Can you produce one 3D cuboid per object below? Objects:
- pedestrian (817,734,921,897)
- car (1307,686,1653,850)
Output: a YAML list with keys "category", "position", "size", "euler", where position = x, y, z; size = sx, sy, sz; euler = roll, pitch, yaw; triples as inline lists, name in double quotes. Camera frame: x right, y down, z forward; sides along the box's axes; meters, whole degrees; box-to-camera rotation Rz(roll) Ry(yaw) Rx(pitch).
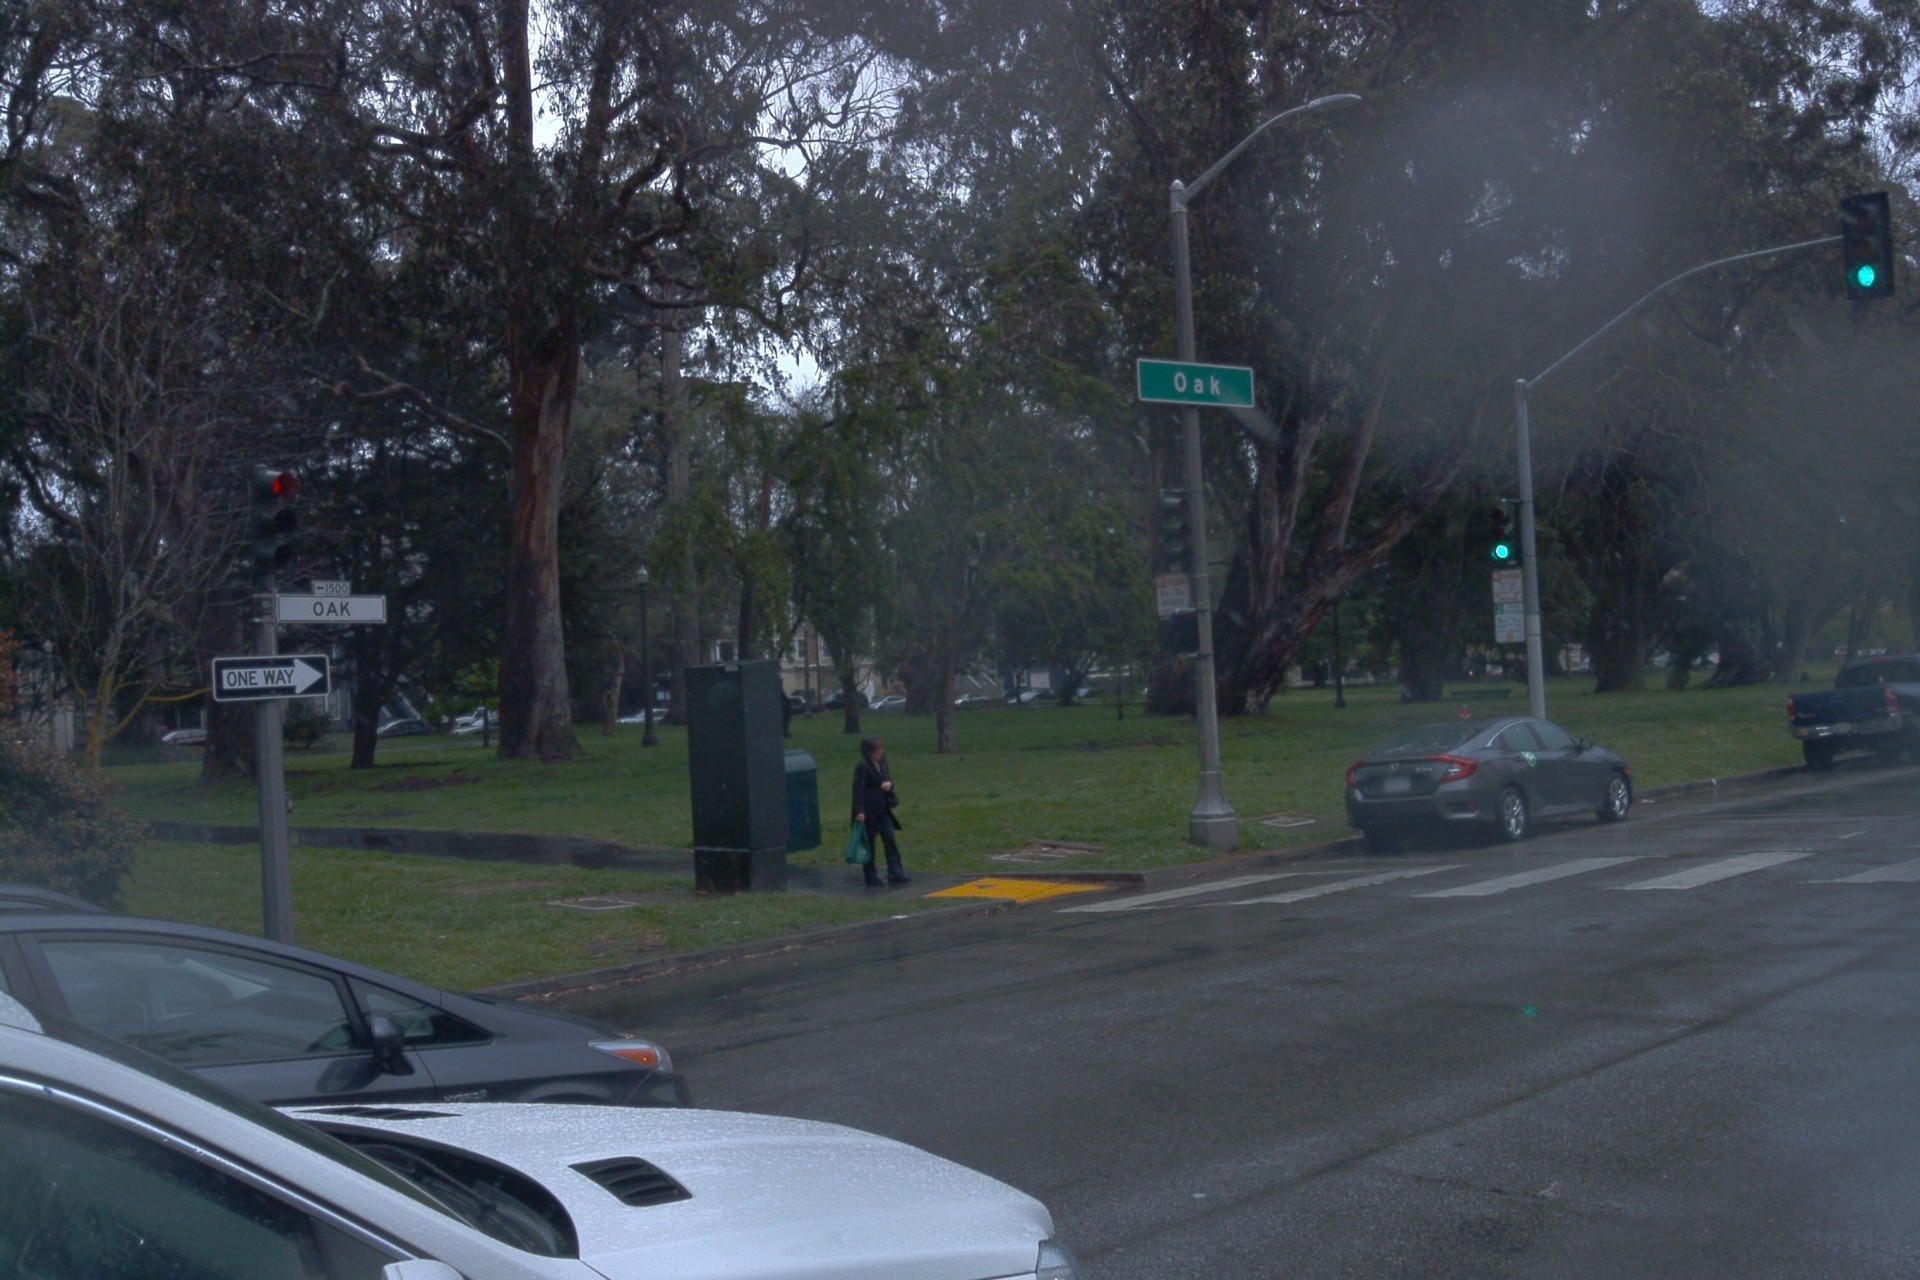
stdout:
- category: "pedestrian"
  position: [-0.924, 1.775, 20.986]
  size: [0.723, 1.560, 0.834]
  euler: [1, 2, 30]
- category: "car"
  position: [6.197, 1.415, 24.128]
  size: [2.031, 1.540, 4.554]
  euler: [1, 2, 42]
